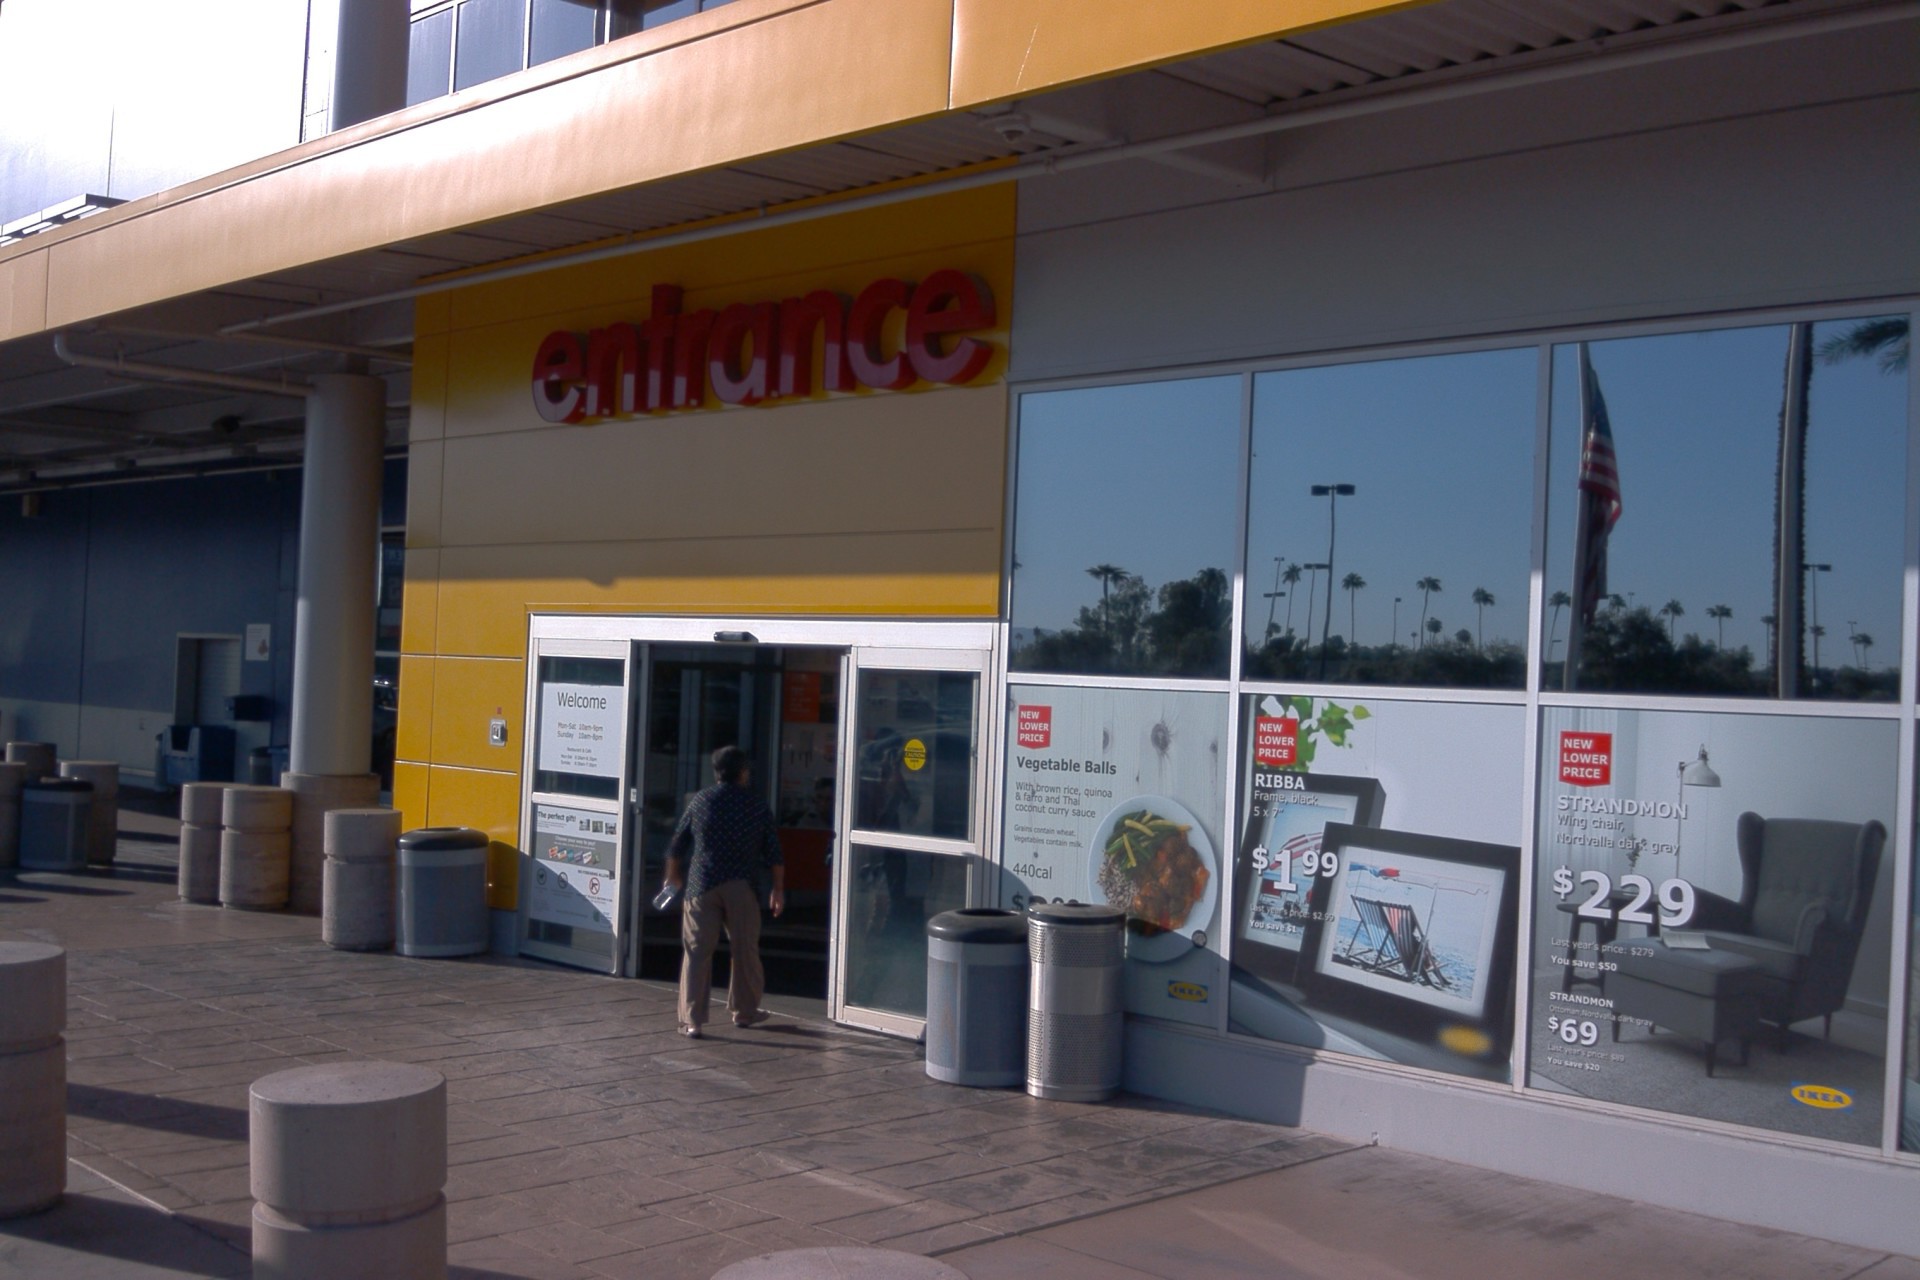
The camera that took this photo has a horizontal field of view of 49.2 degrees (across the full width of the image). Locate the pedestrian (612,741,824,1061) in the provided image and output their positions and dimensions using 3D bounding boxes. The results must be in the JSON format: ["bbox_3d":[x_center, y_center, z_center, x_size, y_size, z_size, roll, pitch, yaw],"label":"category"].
[{"bbox_3d":[-1.278,1.363,11.306,0.948,1.580,1.102,1,0,2],"label":"pedestrian"}]

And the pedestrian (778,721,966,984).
[{"bbox_3d":[-0.590,1.408,14.301,0.831,1.680,0.972,1,0,33],"label":"pedestrian"}]
